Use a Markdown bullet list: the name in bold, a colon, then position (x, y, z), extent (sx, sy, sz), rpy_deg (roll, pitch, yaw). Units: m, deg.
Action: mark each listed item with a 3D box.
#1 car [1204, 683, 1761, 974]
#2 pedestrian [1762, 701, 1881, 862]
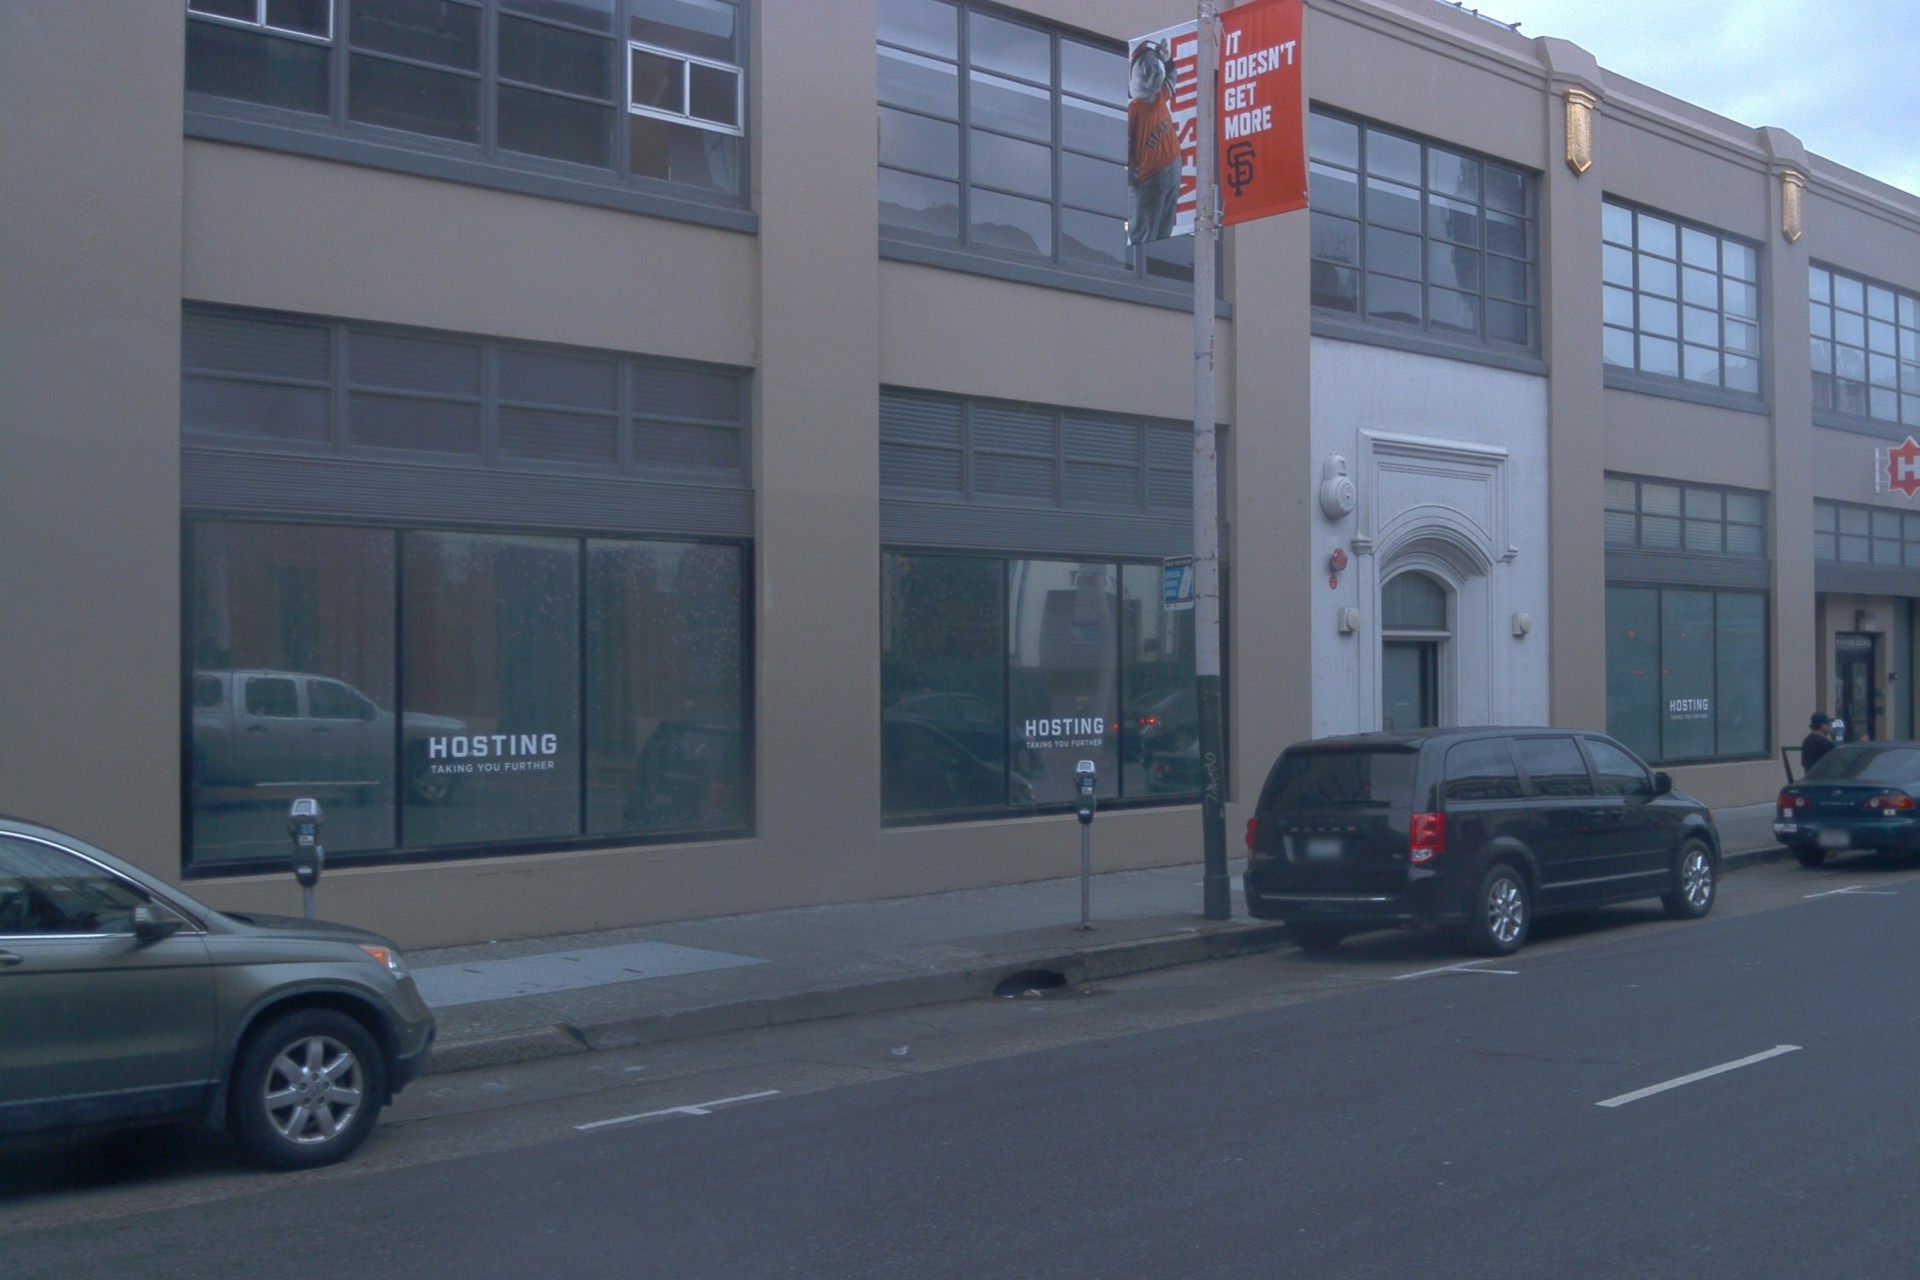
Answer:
- **car**: position (4.471, 1.387, 17.245), extent (5.129, 1.960, 2.084), rpy_deg (0, 0, -44)
- **pedestrian**: position (9.896, 1.603, 23.919), extent (0.854, 1.767, 1.113), rpy_deg (0, 0, -6)
